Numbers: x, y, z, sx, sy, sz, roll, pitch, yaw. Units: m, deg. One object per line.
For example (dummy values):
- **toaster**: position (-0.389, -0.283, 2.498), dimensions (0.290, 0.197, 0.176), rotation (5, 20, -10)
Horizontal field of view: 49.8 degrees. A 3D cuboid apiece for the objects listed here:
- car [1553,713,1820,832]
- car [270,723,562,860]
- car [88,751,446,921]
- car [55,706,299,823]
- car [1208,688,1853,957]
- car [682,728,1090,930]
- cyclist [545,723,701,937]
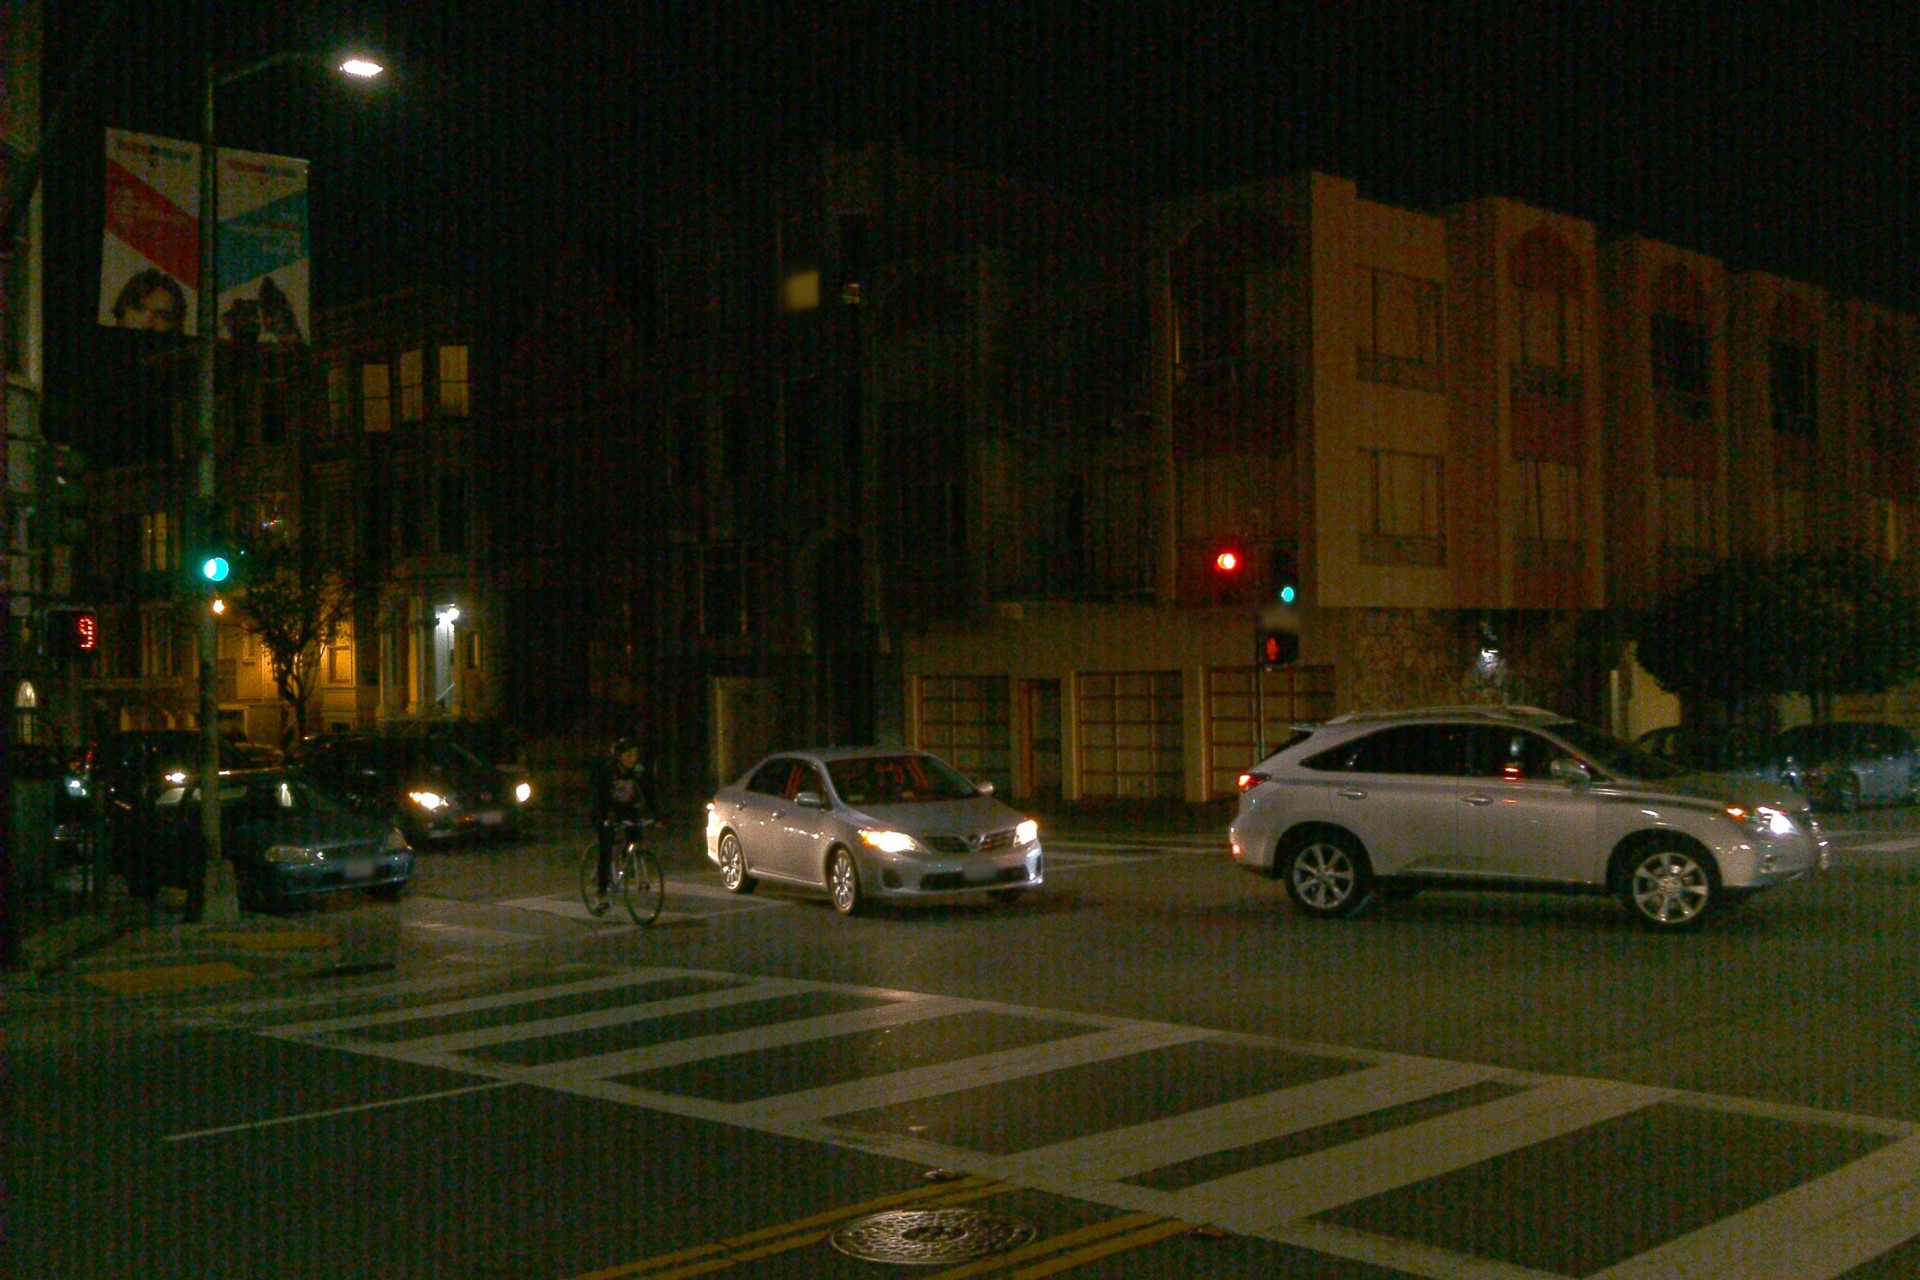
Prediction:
- **car**: position (10.607, 1.860, 29.967), dimensions (1.967, 1.430, 4.633), rotation (1, 0, 42)
- **car**: position (-7.503, 1.990, 28.230), dimensions (2.021, 1.480, 4.494), rotation (1, 0, -42)
- **car**: position (-7.499, 2.014, 22.147), dimensions (1.946, 1.350, 4.278), rotation (1, 0, -44)
- **car**: position (-12.739, 1.955, 33.480), dimensions (2.128, 1.560, 4.553), rotation (1, 0, -43)
- **car**: position (4.618, 1.355, 16.930), dimensions (4.618, 1.760, 2.137), rotation (1, 0, 33)
- **car**: position (-0.851, 1.687, 19.759), dimensions (2.121, 1.450, 4.467), rotation (1, 0, -28)
- **cyclist**: position (-3.089, 1.680, 18.819), dimensions (0.770, 1.760, 1.753), rotation (1, 0, -32)
